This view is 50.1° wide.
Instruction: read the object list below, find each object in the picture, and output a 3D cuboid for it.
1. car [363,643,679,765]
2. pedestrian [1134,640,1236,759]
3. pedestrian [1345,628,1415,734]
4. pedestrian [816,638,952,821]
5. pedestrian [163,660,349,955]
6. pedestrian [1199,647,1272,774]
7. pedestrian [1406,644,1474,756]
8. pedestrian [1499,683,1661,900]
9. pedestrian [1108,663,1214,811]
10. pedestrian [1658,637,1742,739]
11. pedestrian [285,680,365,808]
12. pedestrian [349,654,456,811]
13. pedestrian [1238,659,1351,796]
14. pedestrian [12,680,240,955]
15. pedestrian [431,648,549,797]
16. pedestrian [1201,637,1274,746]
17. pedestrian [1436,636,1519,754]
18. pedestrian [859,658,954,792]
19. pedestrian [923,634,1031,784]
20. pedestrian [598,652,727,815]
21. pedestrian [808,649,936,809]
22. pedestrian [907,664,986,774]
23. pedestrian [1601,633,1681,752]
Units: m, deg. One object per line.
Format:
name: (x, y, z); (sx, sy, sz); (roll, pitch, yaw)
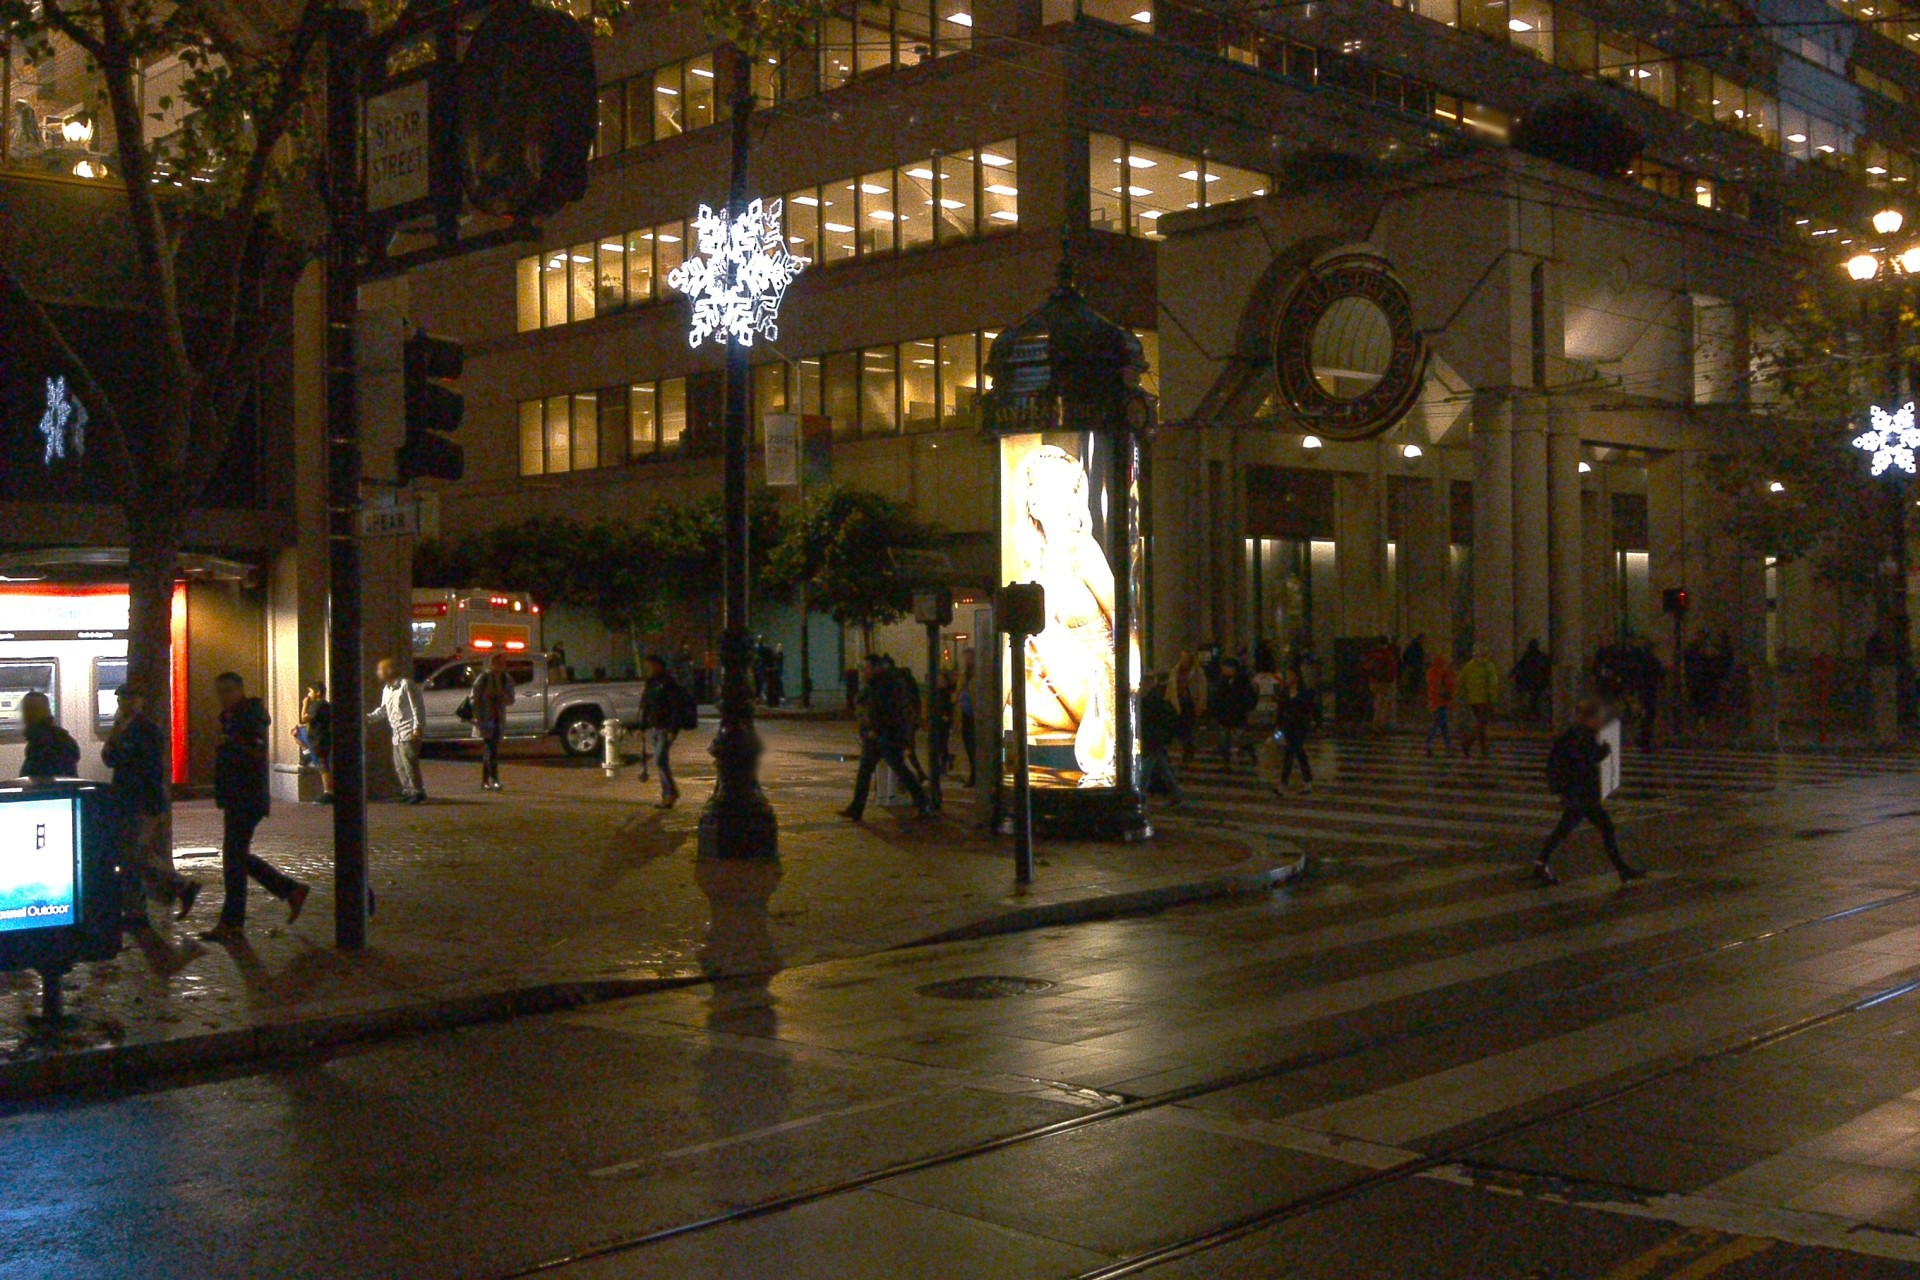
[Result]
car: (-7.349, 1.052, 34.744); (4.910, 1.960, 1.934); (0, 1, 0)
pedestrian: (3.303, 0.850, 30.173); (1.025, 1.680, 1.080); (-1, 1, -45)
pedestrian: (7.615, 0.729, 37.243); (0.795, 1.860, 1.041); (1, 1, 45)
pedestrian: (-0.801, 0.913, 21.604); (1.161, 1.850, 0.837); (-1, 1, -34)
pedestrian: (-4.779, 1.094, 13.946); (1.020, 1.890, 0.783); (-1, 1, -34)
pedestrian: (3.964, 0.999, 29.562); (0.725, 1.770, 0.799); (1, 1, 41)
pedestrian: (7.611, 0.934, 32.582); (0.934, 1.730, 0.628); (-1, 1, -42)
pedestrian: (5.157, 1.216, 17.048); (1.049, 1.670, 1.134); (1, 1, 30)
pedestrian: (2.352, 1.108, 23.997); (0.699, 1.650, 1.102); (1, 1, 45)
pedestrian: (12.627, 0.802, 35.040); (1.124, 1.690, 0.784); (0, 1, -27)
pedestrian: (-6.989, 1.135, 22.606); (0.636, 1.350, 0.644); (-1, 1, -39)
pedestrian: (-6.148, 0.997, 22.662); (0.880, 1.670, 0.700); (0, 1, 26)
pedestrian: (4.146, 1.063, 25.491); (1.084, 1.620, 0.886); (-1, 1, -39)
pedestrian: (-5.760, 1.176, 14.187); (1.157, 1.740, 1.071); (1, 1, 44)
pedestrian: (-5.645, 0.964, 24.645); (0.977, 1.700, 1.115); (-1, 1, -40)
pedestrian: (4.872, 0.887, 36.058); (1.064, 1.850, 0.753); (-1, 1, -40)
pedestrian: (8.096, 0.843, 32.137); (1.045, 1.780, 0.780); (-1, 1, -40)
pedestrian: (-0.707, 1.110, 27.301); (0.806, 1.710, 0.985); (1, 1, 42)
pedestrian: (0.223, 0.886, 27.006); (0.963, 1.900, 1.058); (1, 1, 43)
pedestrian: (-3.306, 1.018, 22.874); (0.838, 1.730, 1.147); (1, 1, 43)
pedestrian: (-0.994, 0.976, 23.208); (1.120, 1.720, 0.908); (-1, 1, -38)
pedestrian: (-0.191, 1.115, 29.371); (0.776, 1.500, 0.879); (1, 1, 32)
pedestrian: (11.087, 0.836, 33.456); (1.066, 1.880, 0.763); (-1, 1, -38)
